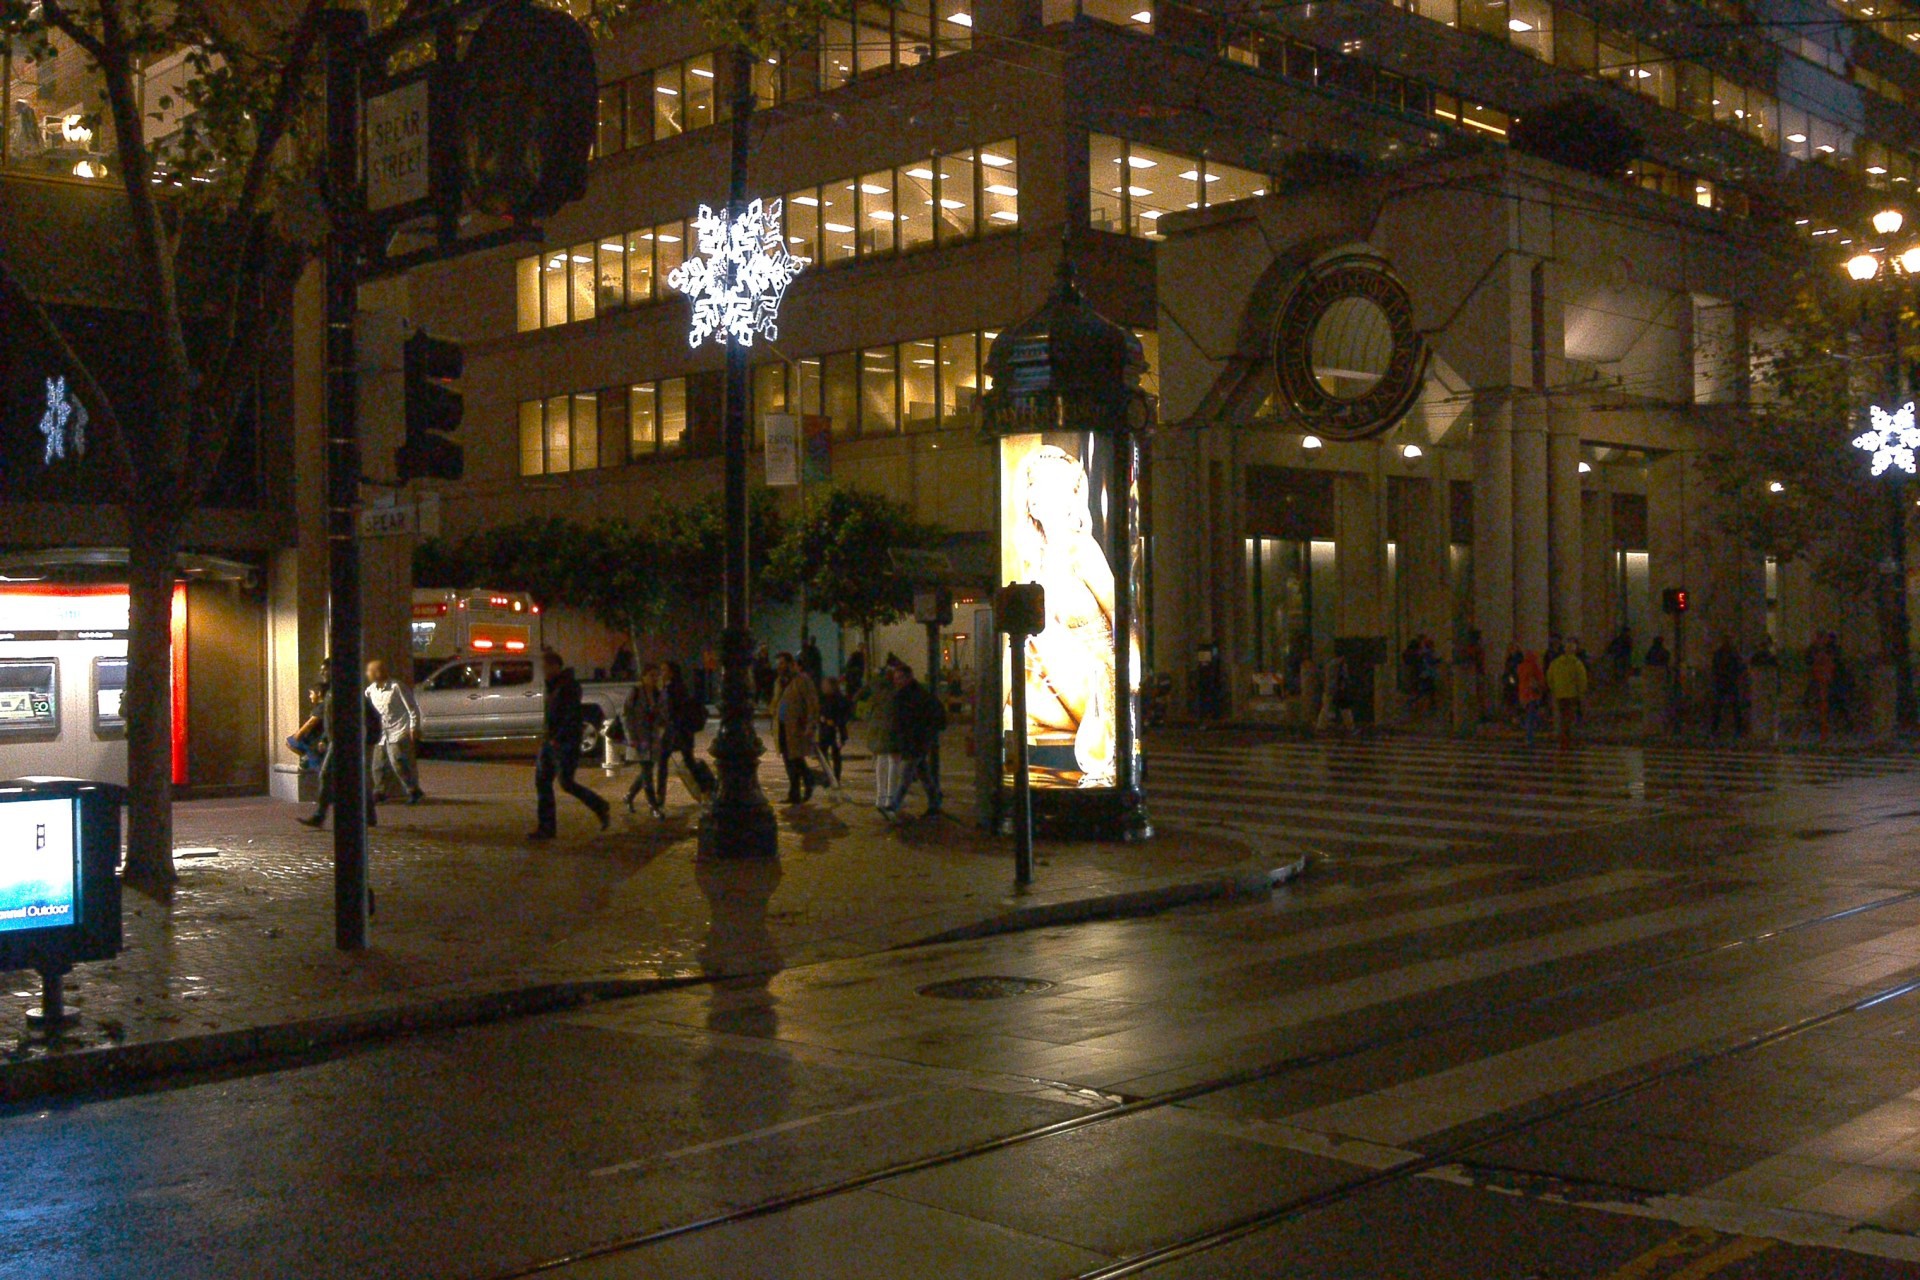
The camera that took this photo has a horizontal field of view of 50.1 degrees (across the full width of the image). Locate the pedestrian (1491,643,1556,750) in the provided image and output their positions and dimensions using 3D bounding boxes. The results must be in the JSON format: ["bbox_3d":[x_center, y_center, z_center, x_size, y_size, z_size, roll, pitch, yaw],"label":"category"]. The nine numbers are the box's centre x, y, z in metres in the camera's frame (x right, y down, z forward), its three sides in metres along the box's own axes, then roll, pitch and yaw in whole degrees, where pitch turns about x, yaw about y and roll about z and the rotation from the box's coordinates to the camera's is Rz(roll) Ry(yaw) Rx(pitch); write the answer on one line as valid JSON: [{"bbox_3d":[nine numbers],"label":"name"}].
[{"bbox_3d":[9.389,0.930,34.225,0.934,1.730,0.628,-1,1,-43],"label":"pedestrian"}]

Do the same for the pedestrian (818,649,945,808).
[{"bbox_3d":[-0.892,0.974,23.289,1.120,1.720,0.908,-1,1,-38],"label":"pedestrian"}]

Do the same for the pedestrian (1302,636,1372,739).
[{"bbox_3d":[6.942,0.854,37.811,1.064,1.850,0.753,-1,1,-41],"label":"pedestrian"}]

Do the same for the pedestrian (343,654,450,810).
[{"bbox_3d":[-6.221,0.998,22.691,0.881,1.670,0.699,0,1,18],"label":"pedestrian"}]

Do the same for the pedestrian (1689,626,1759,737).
[{"bbox_3d":[13.190,0.697,35.469,0.763,1.880,1.066,1,1,43],"label":"pedestrian"}]

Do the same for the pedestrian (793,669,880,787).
[{"bbox_3d":[-1.625,1.147,27.140,0.776,1.500,0.879,1,1,34],"label":"pedestrian"}]

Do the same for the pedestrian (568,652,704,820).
[{"bbox_3d":[-3.461,1.000,21.952,0.977,1.700,1.115,-1,1,-43],"label":"pedestrian"}]

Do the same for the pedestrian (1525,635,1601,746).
[{"bbox_3d":[9.914,0.809,33.750,1.045,1.780,0.780,-1,1,-44],"label":"pedestrian"}]

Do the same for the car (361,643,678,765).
[{"bbox_3d":[-7.372,1.056,34.746,4.910,1.960,1.934,0,1,0],"label":"car"}]

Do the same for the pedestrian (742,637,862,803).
[{"bbox_3d":[-1.888,0.928,24.564,1.058,1.900,0.963,-1,1,-43],"label":"pedestrian"}]

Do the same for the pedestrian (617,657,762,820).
[{"bbox_3d":[-3.102,1.101,23.569,1.035,1.770,1.284,1,1,44],"label":"pedestrian"}]

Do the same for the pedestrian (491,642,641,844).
[{"bbox_3d":[-3.790,0.959,19.766,1.161,1.850,0.837,-1,1,-37],"label":"pedestrian"}]

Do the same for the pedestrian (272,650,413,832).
[{"bbox_3d":[-6.171,0.981,20.529,1.146,1.730,0.839,-1,1,-35],"label":"pedestrian"}]

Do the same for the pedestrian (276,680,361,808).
[{"bbox_3d":[-7.063,1.137,22.623,0.644,1.350,0.636,1,1,40],"label":"pedestrian"}]

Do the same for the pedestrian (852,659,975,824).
[{"bbox_3d":[-0.484,1.041,21.541,1.101,1.650,0.699,-1,1,-41],"label":"pedestrian"}]
